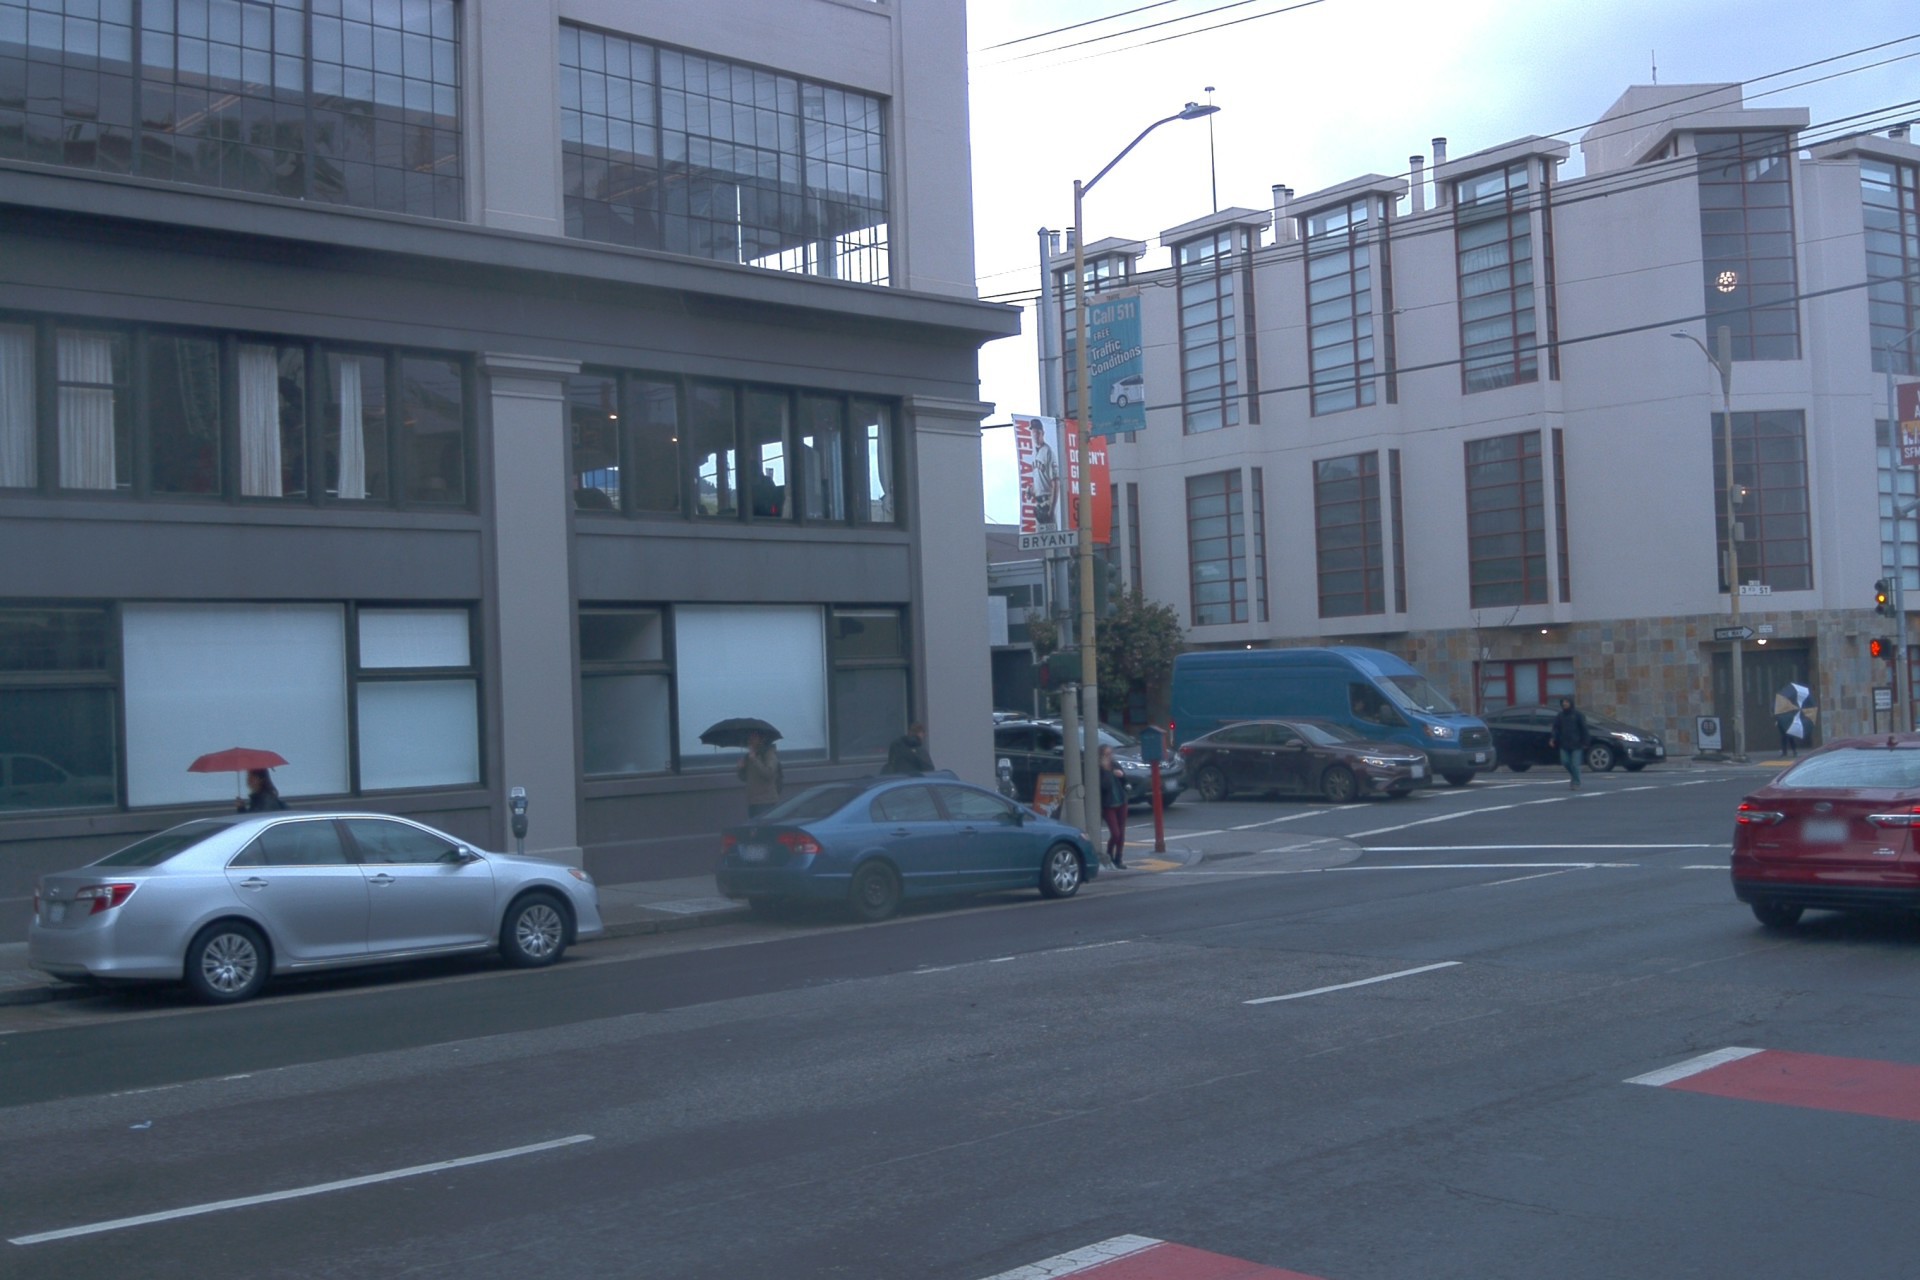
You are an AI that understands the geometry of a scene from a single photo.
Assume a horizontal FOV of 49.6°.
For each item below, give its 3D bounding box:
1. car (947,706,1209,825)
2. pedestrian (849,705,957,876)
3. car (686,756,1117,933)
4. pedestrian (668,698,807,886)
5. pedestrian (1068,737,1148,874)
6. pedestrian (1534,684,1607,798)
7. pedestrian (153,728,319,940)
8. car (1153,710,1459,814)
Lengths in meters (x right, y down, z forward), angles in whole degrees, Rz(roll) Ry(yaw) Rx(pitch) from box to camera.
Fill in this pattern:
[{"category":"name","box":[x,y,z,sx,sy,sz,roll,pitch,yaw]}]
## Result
[{"category":"car","box":[2.029,2.152,36.687,2.022,1.830,4.394,0,0,-44]},{"category":"pedestrian","box":[-0.692,1.810,25.350,0.909,1.990,0.967,0,0,37]},{"category":"car","box":[-0.529,2.061,21.961,4.430,1.440,1.913,0,0,-44]},{"category":"pedestrian","box":[-2.646,1.771,24.731,1.190,2.110,1.132,0,0,-45]},{"category":"pedestrian","box":[1.887,2.094,26.495,0.825,1.670,0.591,0,0,-35]},{"category":"pedestrian","box":[10.624,1.743,36.180,0.873,1.920,1.018,0,0,40]},{"category":"pedestrian","box":[-6.994,1.836,20.092,1.157,1.900,1.124,0,0,-44]},{"category":"car","box":[5.999,2.074,36.548,2.239,1.530,4.968,0,0,-43]}]
